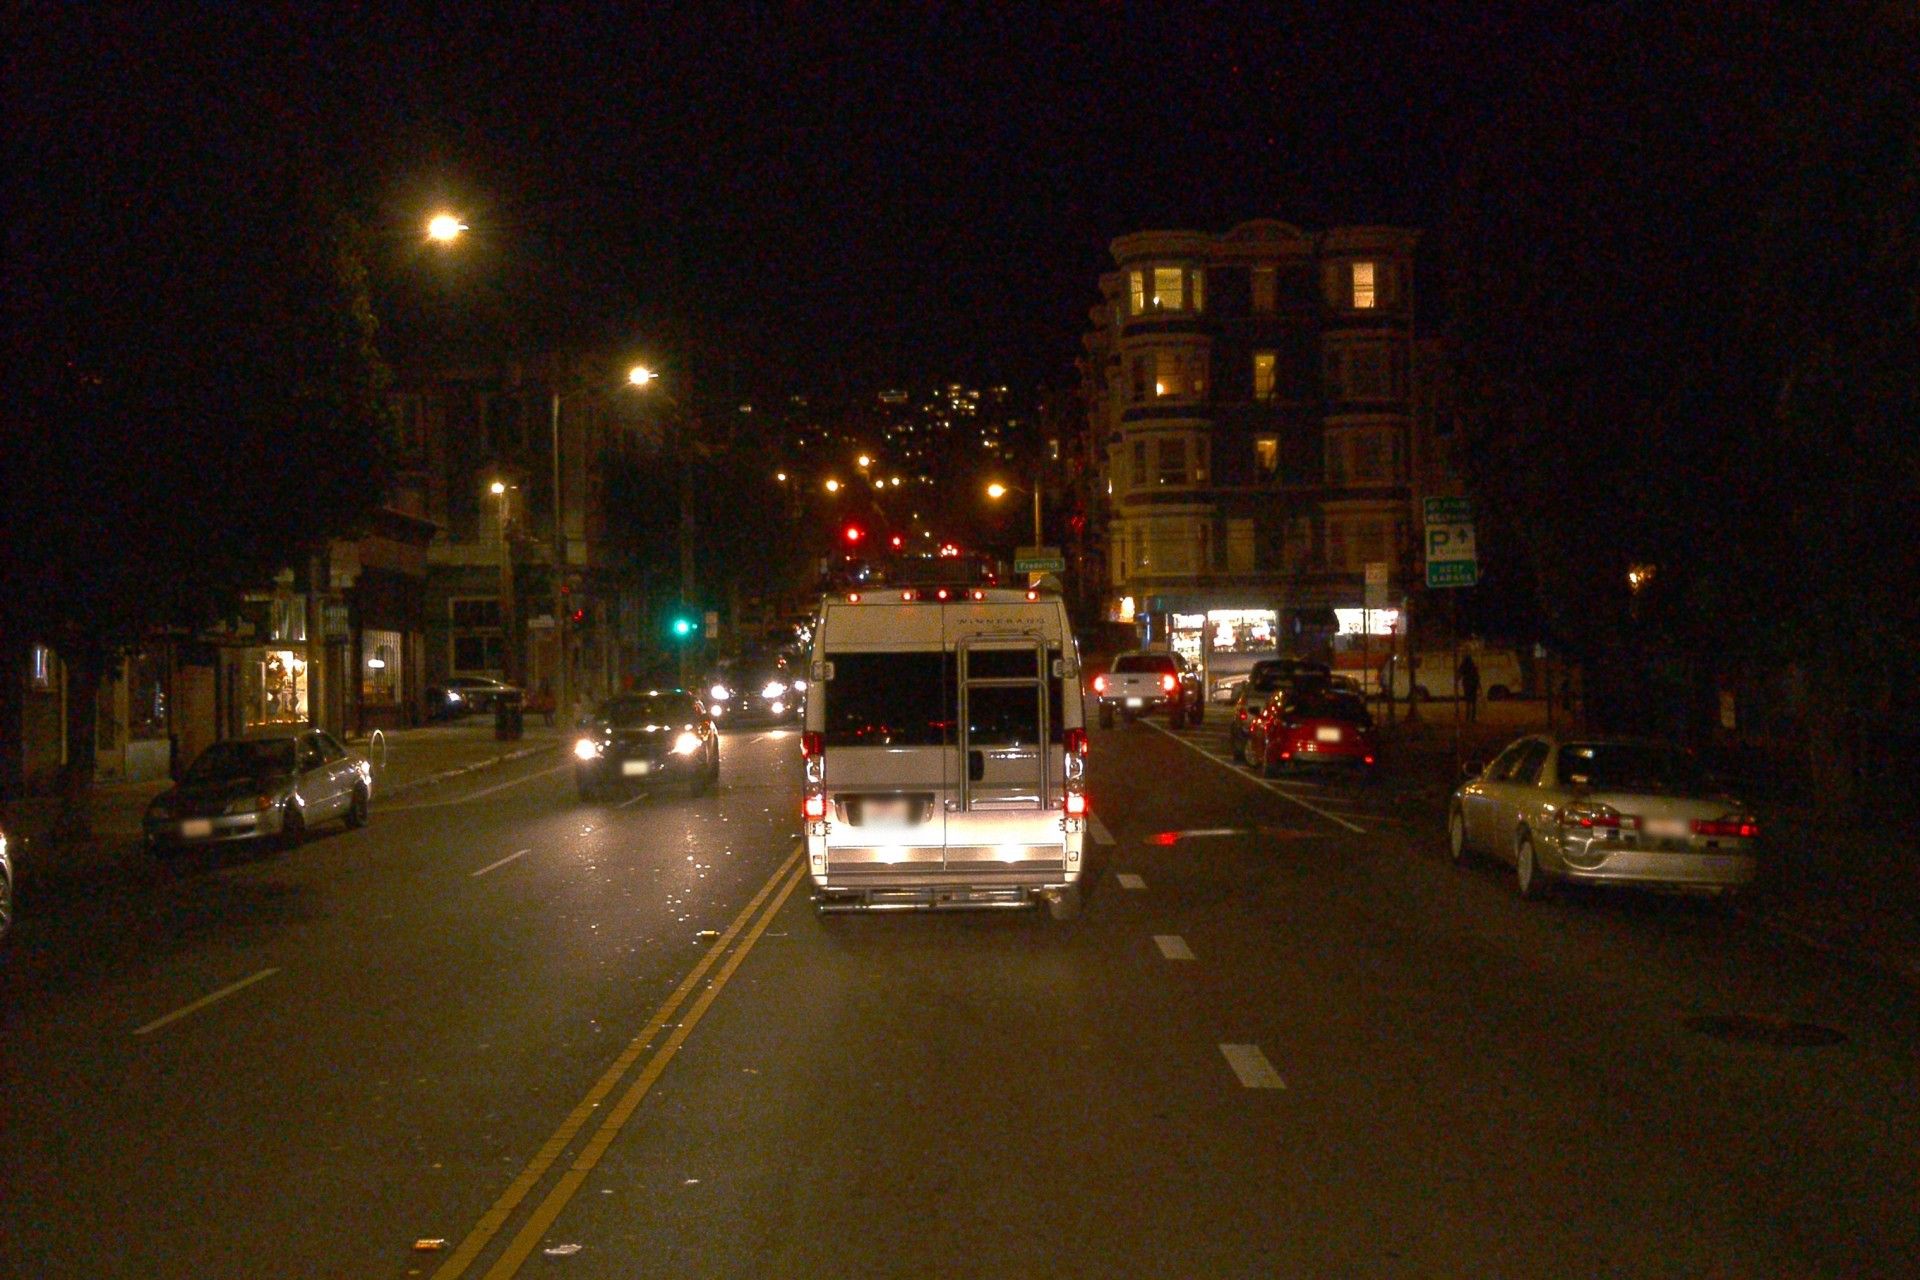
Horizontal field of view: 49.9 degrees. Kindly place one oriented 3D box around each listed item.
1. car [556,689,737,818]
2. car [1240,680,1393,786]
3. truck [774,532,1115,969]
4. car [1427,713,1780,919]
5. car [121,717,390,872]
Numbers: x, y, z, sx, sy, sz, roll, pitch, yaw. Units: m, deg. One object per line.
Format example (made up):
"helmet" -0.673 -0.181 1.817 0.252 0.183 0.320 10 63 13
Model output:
"car" -4.613 1.636 31.042 2.219 1.660 4.679 0 0 -3
"car" 5.691 1.444 33.412 1.963 1.500 4.260 0 0 3
"truck" -0.093 0.750 16.744 2.338 3.000 5.110 0 0 0
"car" 5.579 1.459 18.541 1.867 1.430 4.637 0 0 2
"car" -8.727 1.863 26.000 1.850 1.600 4.445 0 0 0
